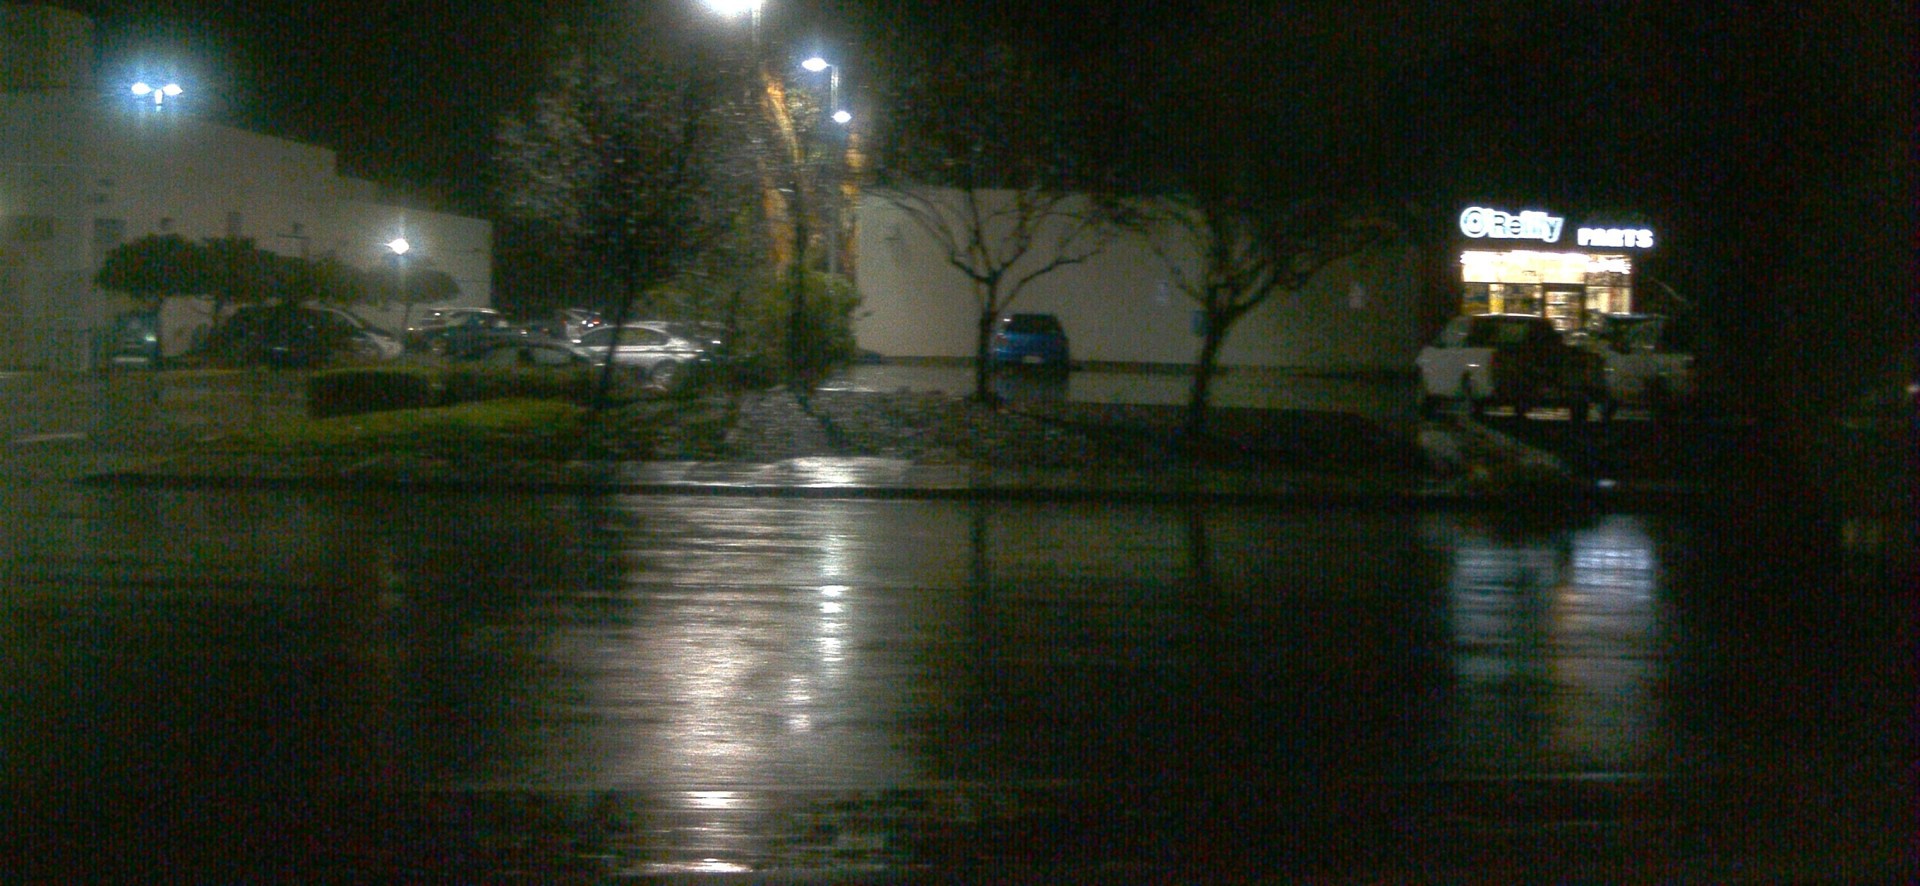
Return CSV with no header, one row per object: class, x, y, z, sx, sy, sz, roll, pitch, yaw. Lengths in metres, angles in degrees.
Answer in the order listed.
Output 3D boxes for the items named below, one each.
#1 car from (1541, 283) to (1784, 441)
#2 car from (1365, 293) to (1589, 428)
car,11.203,-1.412,33.665,2.169,2.192,5.434,1,5,1
car,8.230,-1.423,33.714,2.255,1.843,5.282,1,5,-1
